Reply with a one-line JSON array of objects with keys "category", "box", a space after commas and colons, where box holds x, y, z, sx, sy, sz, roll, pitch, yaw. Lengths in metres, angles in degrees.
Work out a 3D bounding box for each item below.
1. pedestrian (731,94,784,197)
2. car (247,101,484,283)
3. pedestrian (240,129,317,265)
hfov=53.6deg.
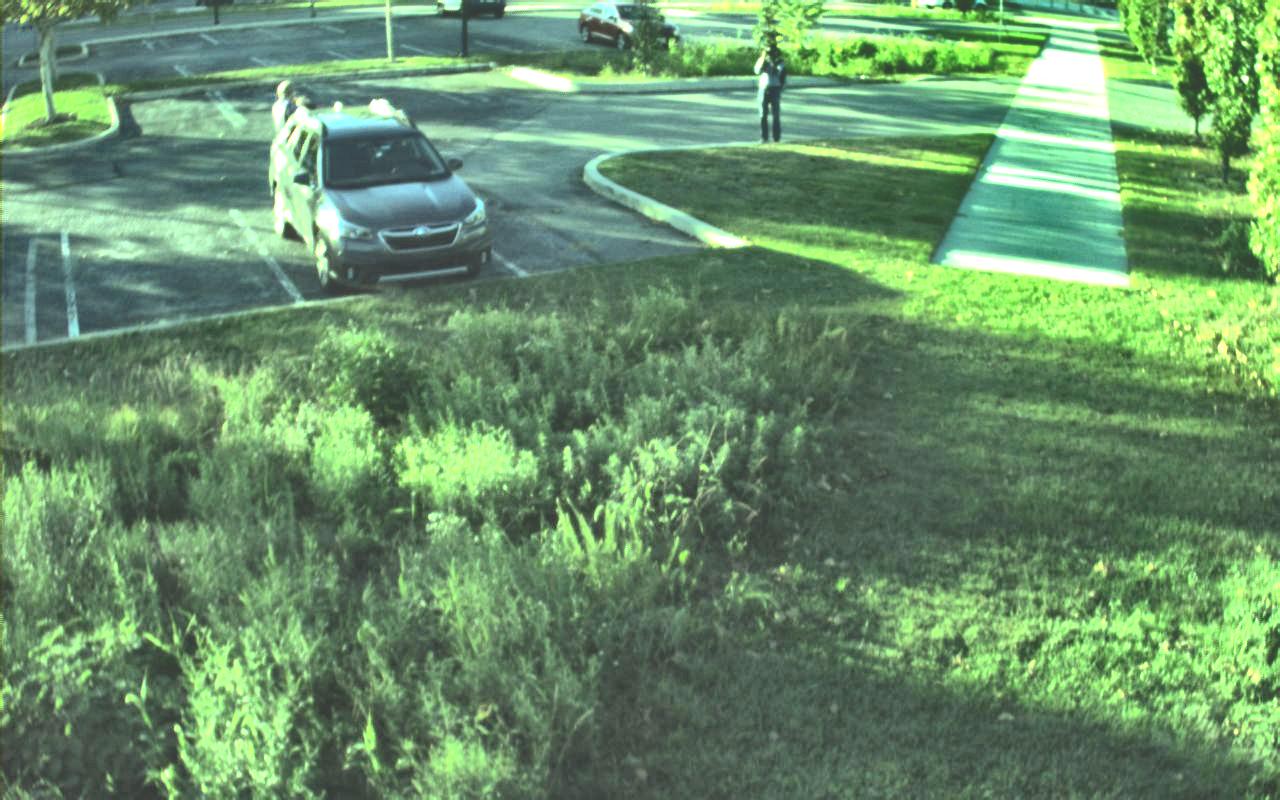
[{"category": "pedestrian", "box": [2.005, -4.343, 21.195, 0.811, 1.714, 0.823, 2, 15, 10]}, {"category": "car", "box": [-3.435, -2.612, 14.410, 1.979, 1.620, 4.545, -7, 17, -22]}, {"category": "pedestrian", "box": [-5.105, -2.862, 17.051, 0.811, 1.800, 0.828, -1, 14, 2]}]
